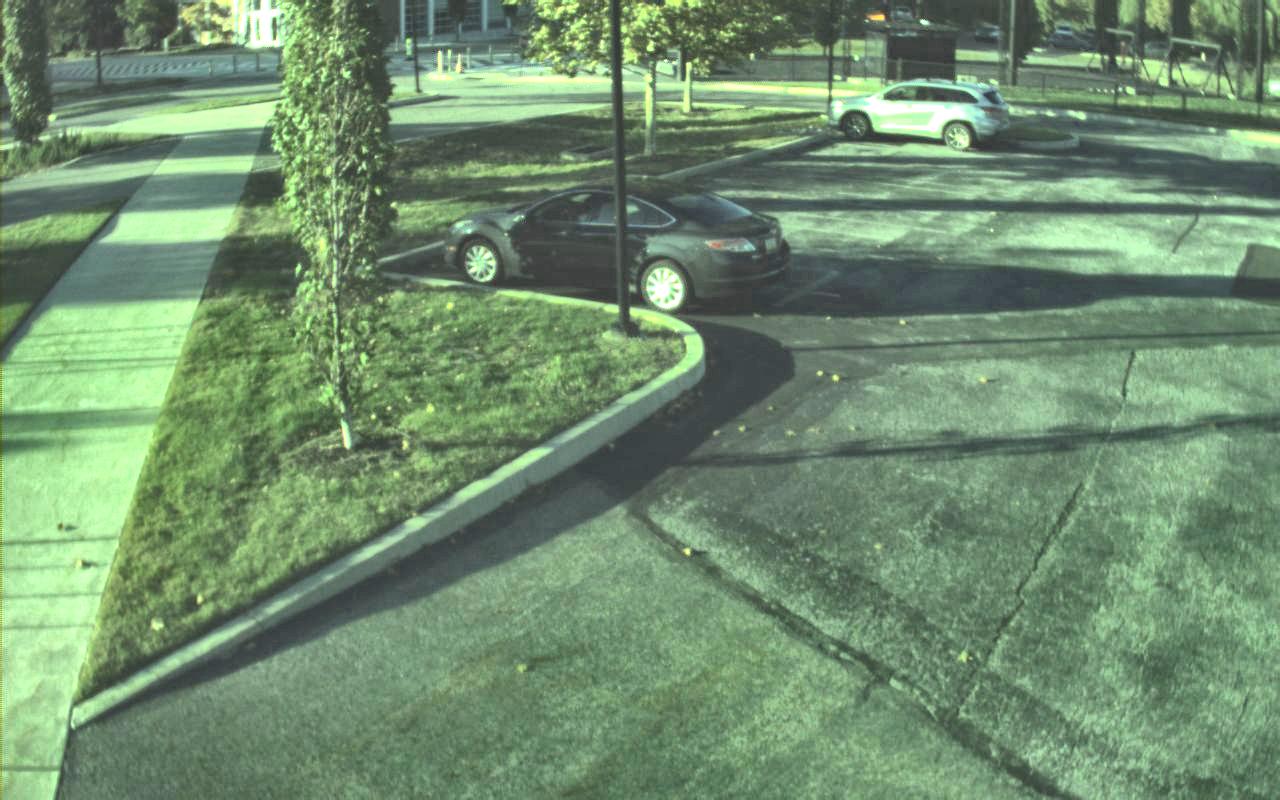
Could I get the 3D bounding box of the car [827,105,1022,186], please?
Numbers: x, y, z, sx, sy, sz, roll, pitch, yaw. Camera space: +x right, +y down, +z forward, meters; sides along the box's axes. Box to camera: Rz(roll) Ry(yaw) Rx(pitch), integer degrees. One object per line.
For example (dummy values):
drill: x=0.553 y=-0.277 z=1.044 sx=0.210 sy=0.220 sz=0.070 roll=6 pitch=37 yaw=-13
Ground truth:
car: x=7.494 y=-6.711 z=32.050 sx=4.844 sy=1.787 sz=2.045 roll=7 pitch=17 yaw=27

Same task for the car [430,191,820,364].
car: x=-0.232 y=-1.721 z=16.389 sx=4.708 sy=1.625 sz=2.016 roll=8 pitch=17 yaw=28
